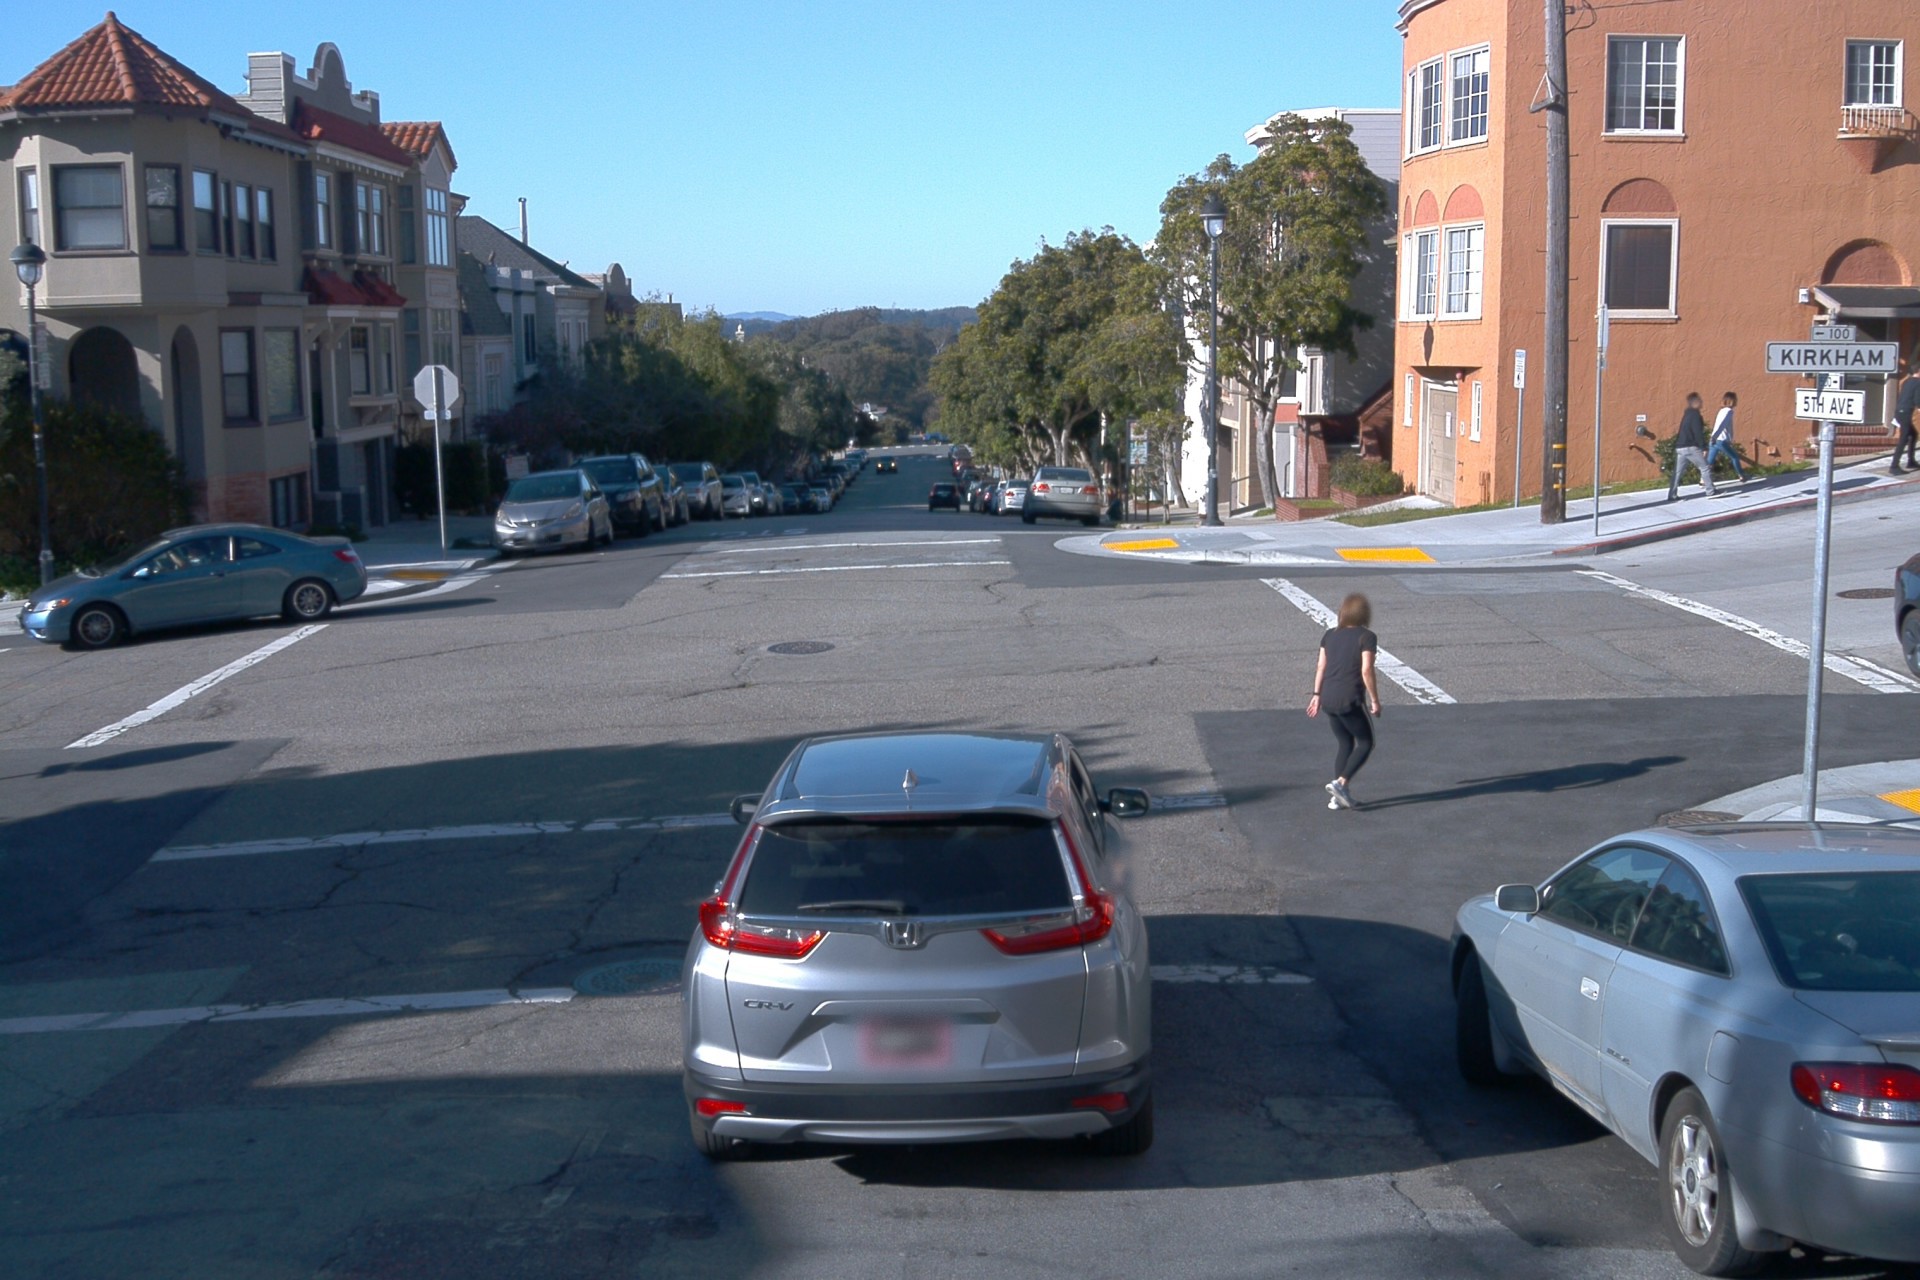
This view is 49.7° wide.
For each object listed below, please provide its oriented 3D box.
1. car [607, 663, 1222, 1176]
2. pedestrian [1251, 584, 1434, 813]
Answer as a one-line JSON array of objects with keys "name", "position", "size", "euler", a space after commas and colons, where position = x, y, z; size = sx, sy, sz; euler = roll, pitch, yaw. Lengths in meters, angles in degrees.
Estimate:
[{"name": "car", "position": [-0.179, 1.024, 9.739], "size": [2.191, 1.800, 4.695], "euler": [0, 0, 0]}, {"name": "pedestrian", "position": [2.809, 0.417, 15.226], "size": [1.128, 1.620, 0.731], "euler": [0, 0, -33]}]
